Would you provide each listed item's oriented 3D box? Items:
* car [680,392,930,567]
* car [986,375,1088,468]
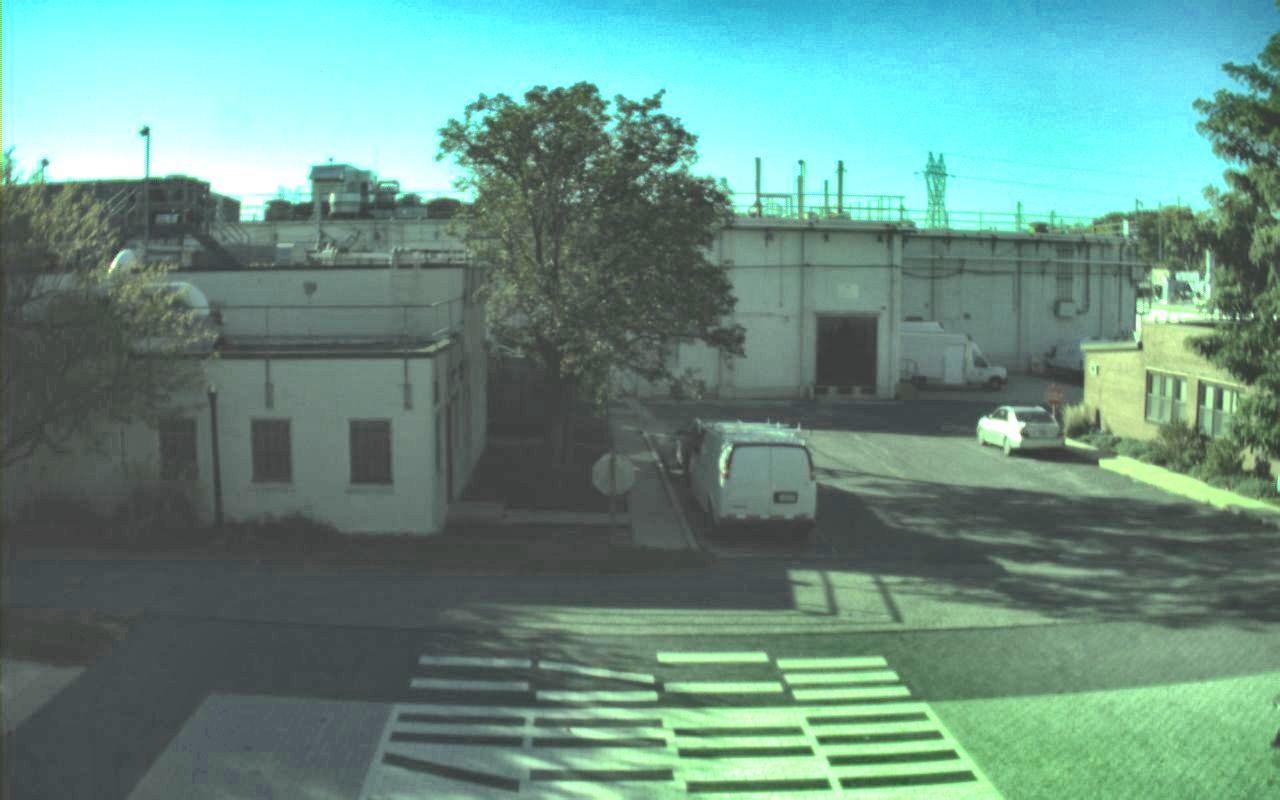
[{"bbox_3d":[3.289,1.424,24.437,4.836,1.837,2.087,-14,20,-36],"label":"car"},{"bbox_3d":[12.838,0.672,39.556,1.979,1.651,4.601,-1,17,-1],"label":"car"}]
